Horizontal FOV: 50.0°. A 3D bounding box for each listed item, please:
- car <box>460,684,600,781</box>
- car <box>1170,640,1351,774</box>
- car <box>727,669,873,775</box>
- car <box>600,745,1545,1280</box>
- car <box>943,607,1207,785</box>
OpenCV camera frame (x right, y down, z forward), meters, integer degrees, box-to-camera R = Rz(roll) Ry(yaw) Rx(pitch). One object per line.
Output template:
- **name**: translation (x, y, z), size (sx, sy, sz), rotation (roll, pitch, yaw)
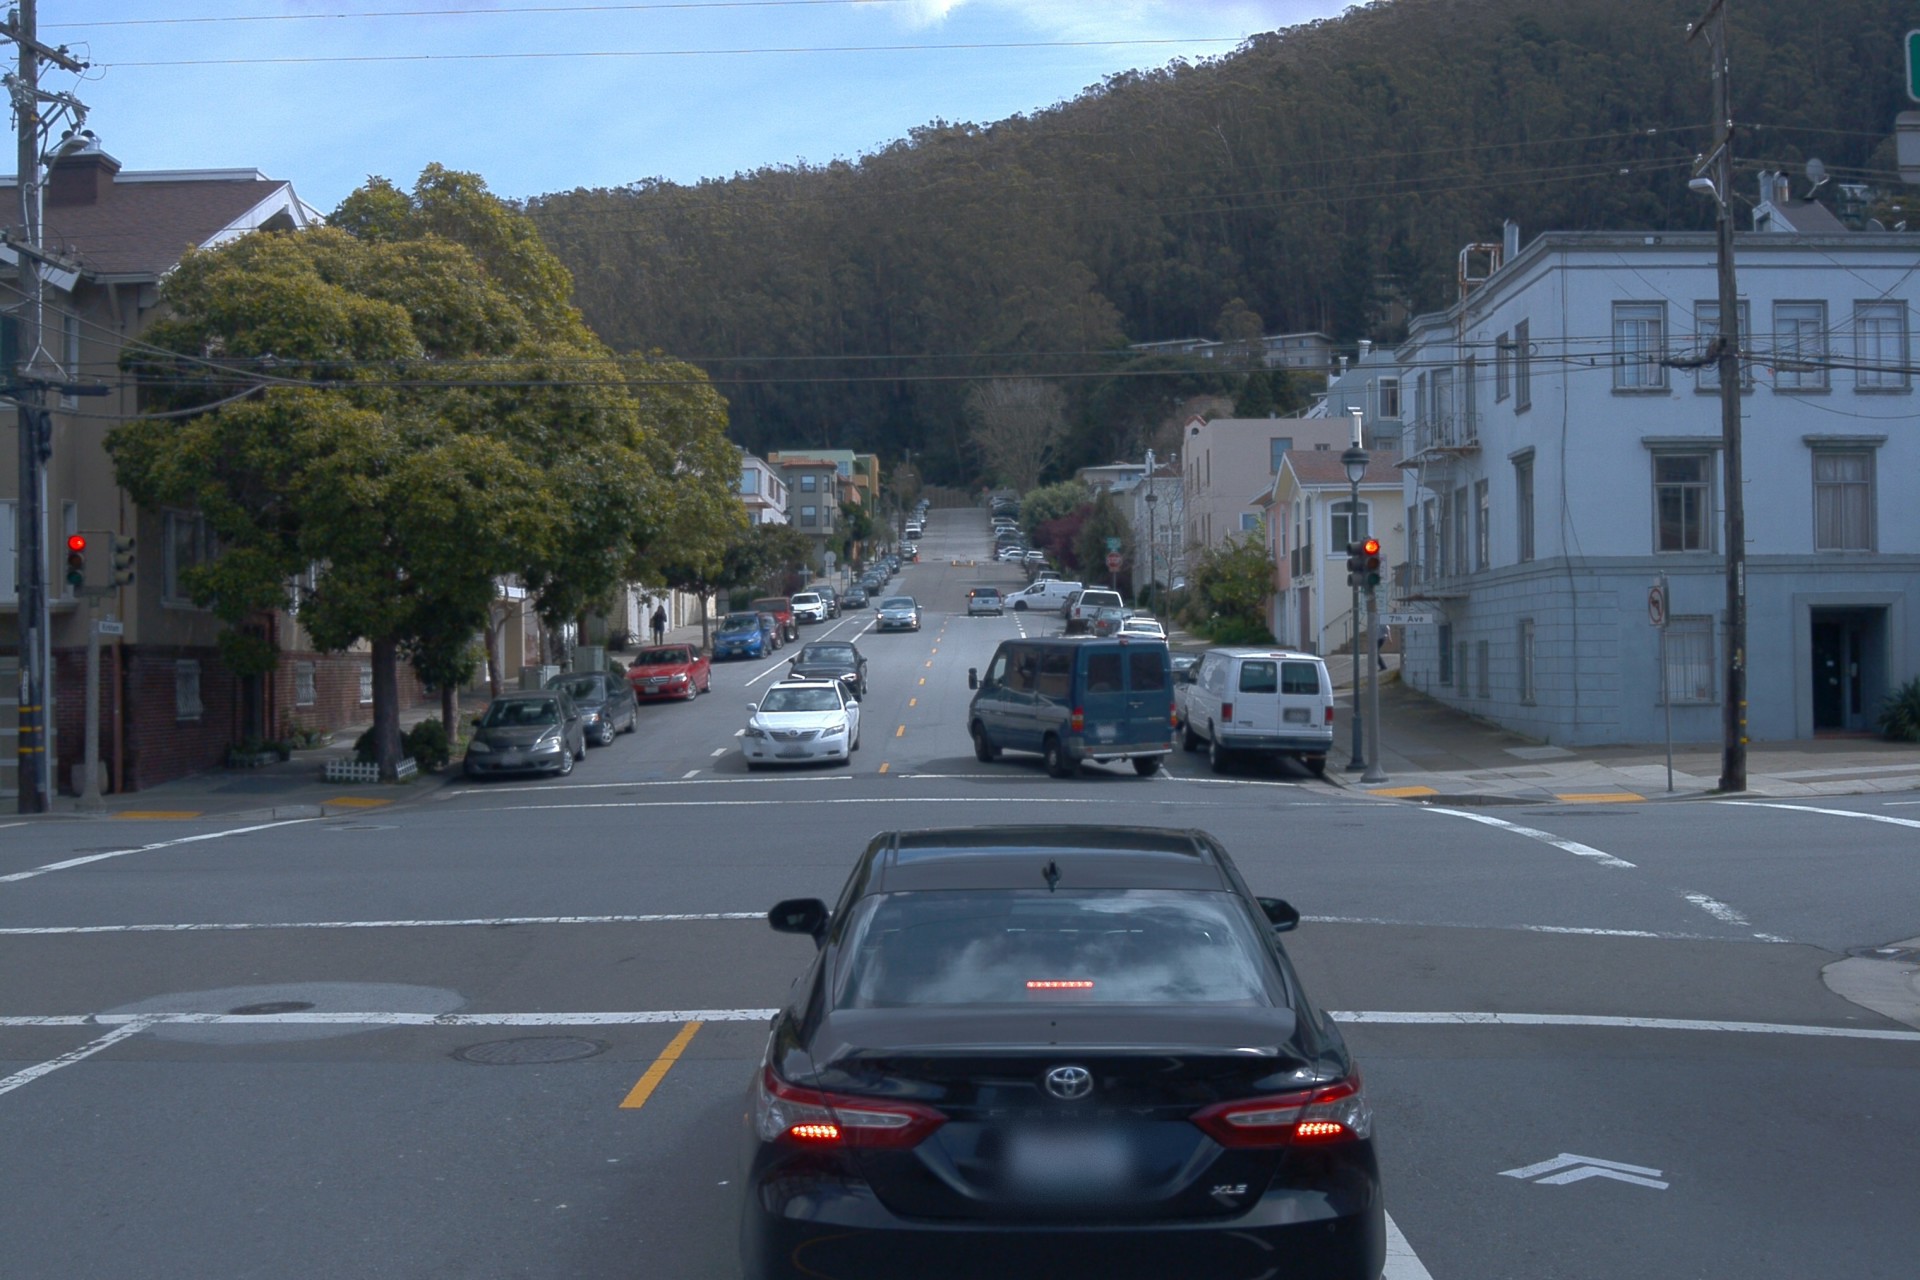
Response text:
- **car**: translation (-7.707, 1.627, 37.253), size (1.836, 1.560, 4.133), rotation (0, 0, -3)
- **car**: translation (5.315, 1.123, 37.219), size (2.299, 2.250, 5.313), rotation (0, 0, -2)
- **car**: translation (-2.840, 1.446, 37.664), size (2.209, 1.750, 4.541), rotation (0, 0, 1)
- **car**: translation (0.282, 1.306, 7.305), size (2.249, 1.620, 4.798), rotation (0, 0, 0)
- **car**: translation (1.878, 0.893, 35.729), size (2.617, 2.850, 5.095), rotation (0, 0, -23)
